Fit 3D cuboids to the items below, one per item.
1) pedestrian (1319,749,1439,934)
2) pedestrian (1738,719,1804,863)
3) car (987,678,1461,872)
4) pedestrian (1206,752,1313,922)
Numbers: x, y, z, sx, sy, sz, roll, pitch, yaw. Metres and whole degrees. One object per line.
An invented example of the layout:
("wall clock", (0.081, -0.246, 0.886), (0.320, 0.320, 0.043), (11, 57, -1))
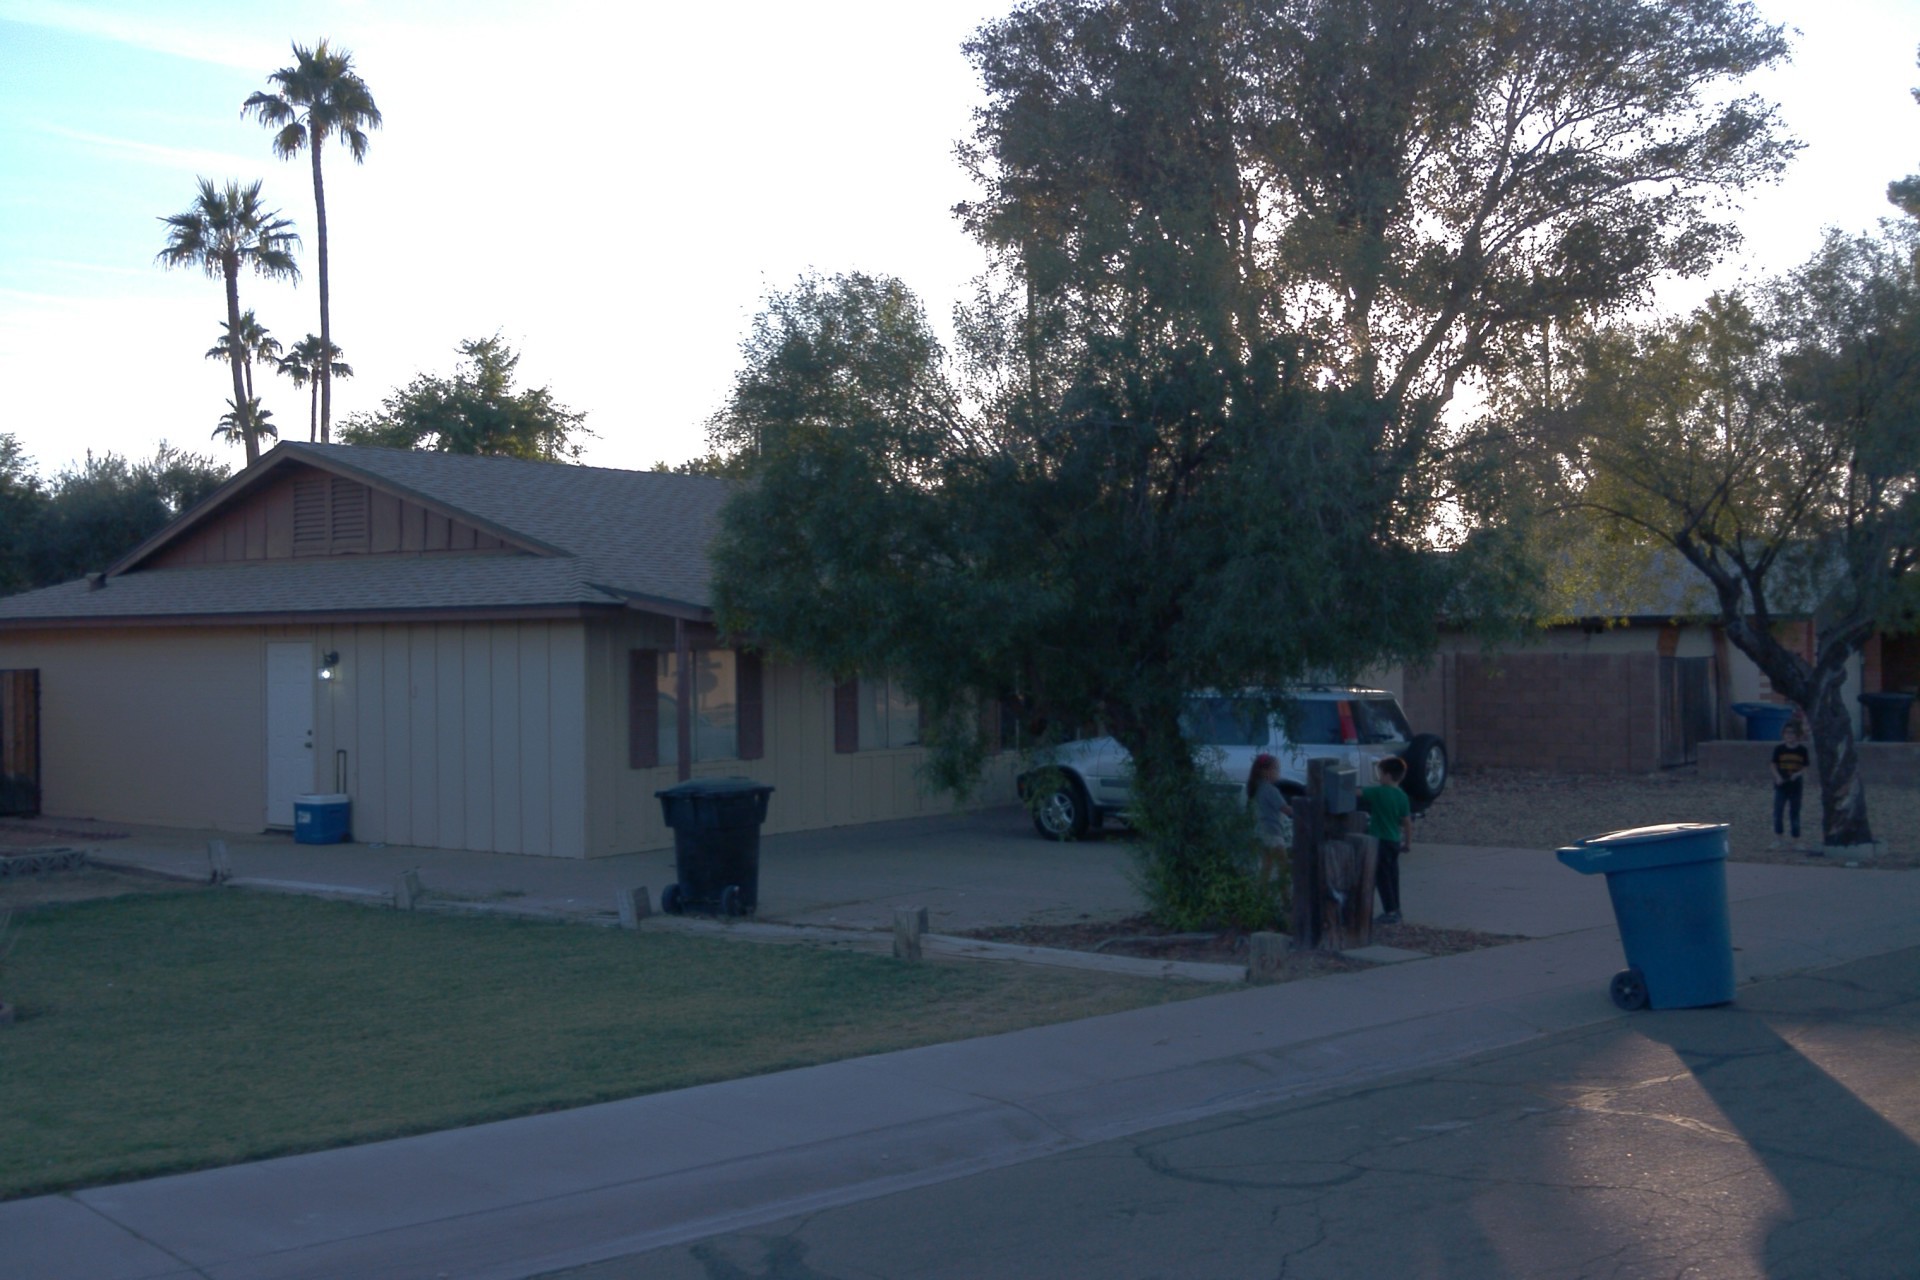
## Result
("pedestrian", (3.135, 1.490, 15.585), (0.588, 1.295, 0.657), (0, 0, -33))
("pedestrian", (8.199, 1.514, 21.046), (0.528, 1.400, 0.588), (0, 0, 31))
("car", (2.659, 1.286, 21.431), (4.368, 1.710, 2.082), (0, 0, 37))
("pedestrian", (2.311, 1.500, 16.045), (0.633, 1.230, 0.537), (0, 0, -43))
